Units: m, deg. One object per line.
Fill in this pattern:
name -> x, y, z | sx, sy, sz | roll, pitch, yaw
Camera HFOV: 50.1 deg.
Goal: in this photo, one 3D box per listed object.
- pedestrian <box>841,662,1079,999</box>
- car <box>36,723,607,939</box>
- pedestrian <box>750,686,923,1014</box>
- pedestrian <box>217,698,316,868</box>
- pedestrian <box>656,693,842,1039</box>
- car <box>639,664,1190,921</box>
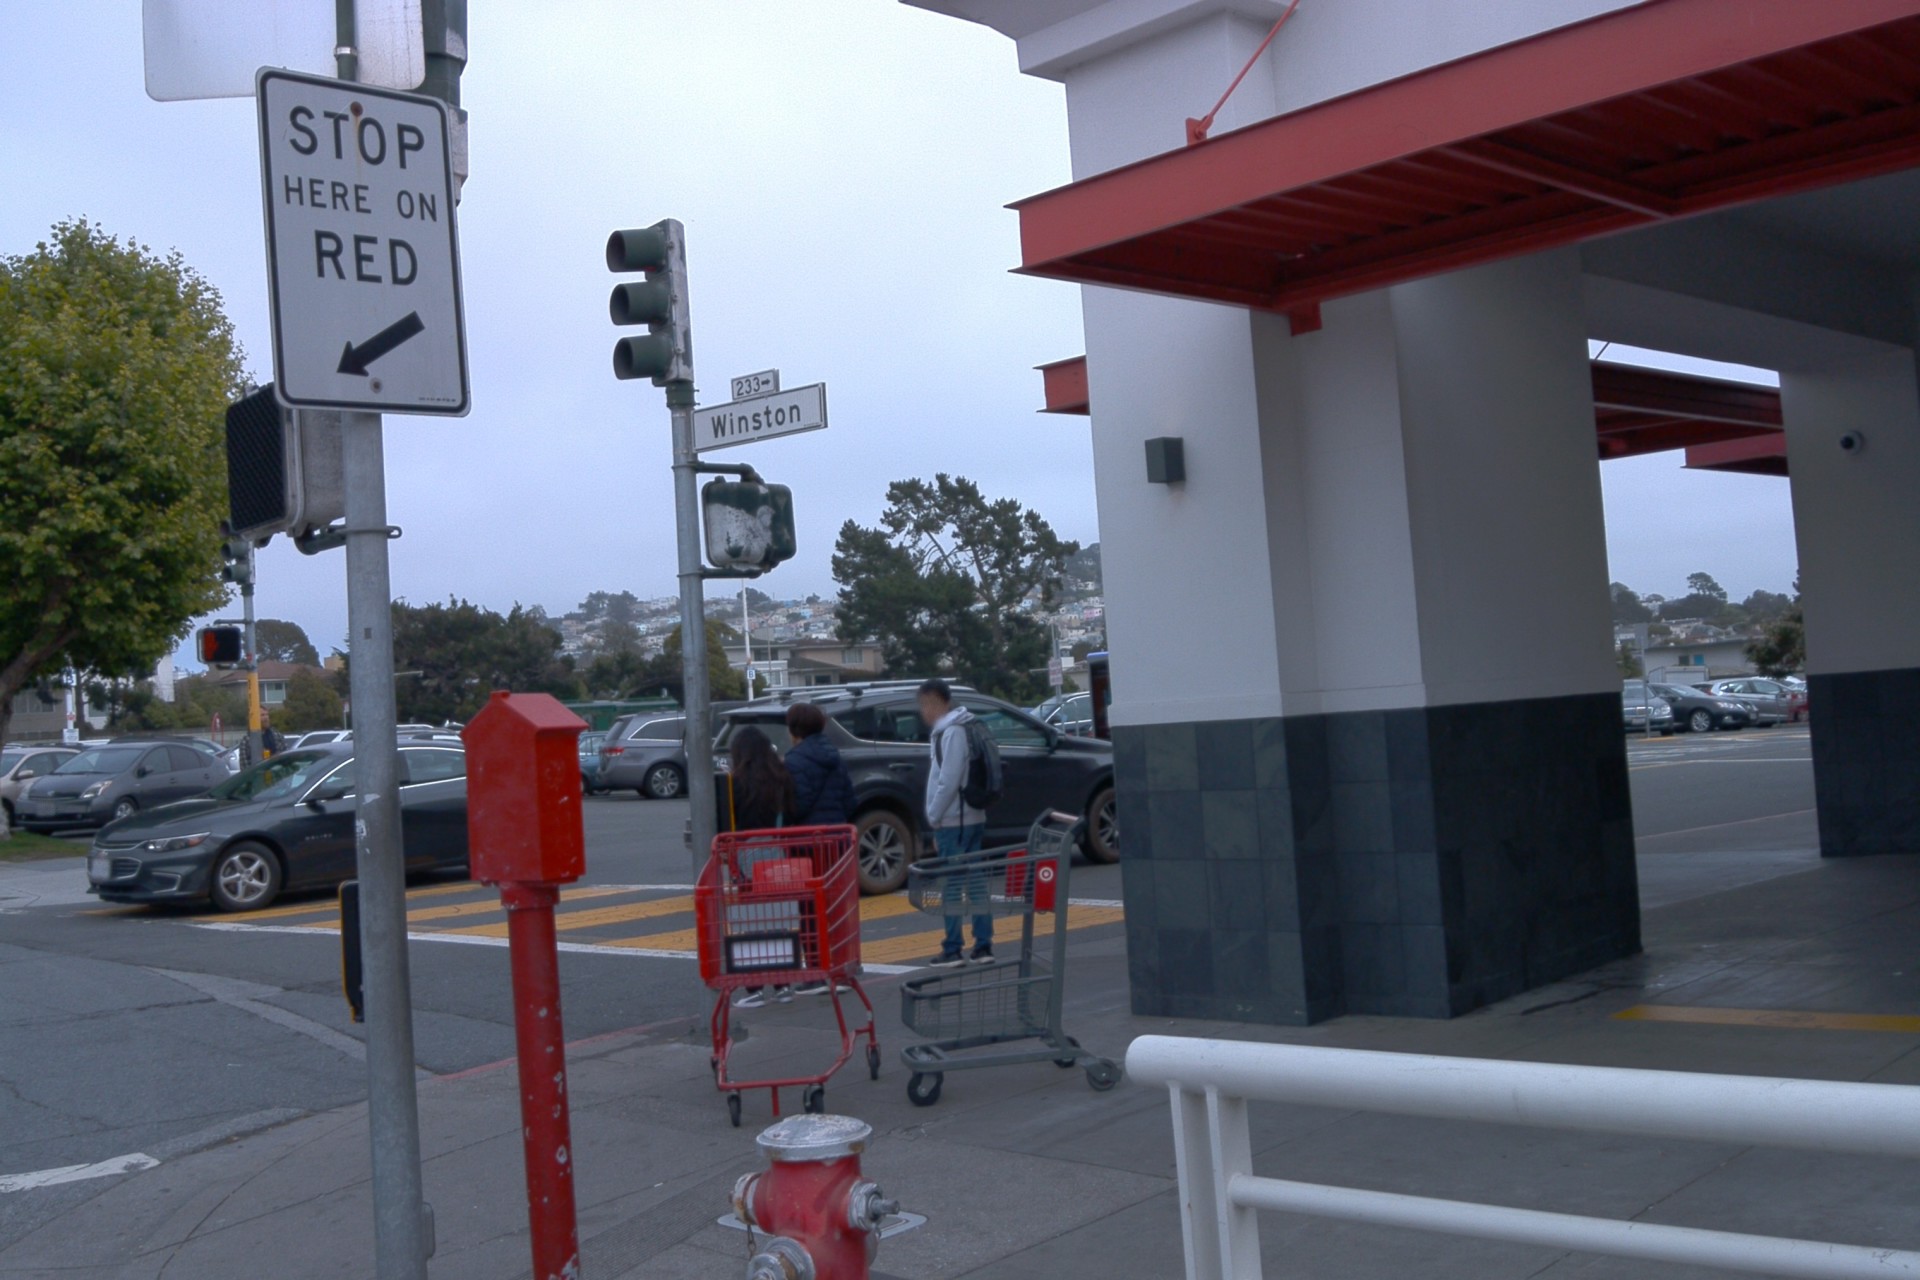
pedestrian -> -0.005, 1.023, 11.640 | 0.816, 1.770, 1.085 | 0, 0, -44
car -> -6.023, 1.719, 19.871 | 2.102, 1.570, 4.857 | 0, 1, 43
pedestrian -> -0.669, 1.087, 11.040 | 0.627, 1.650, 0.761 | 0, 0, -34
pedestrian -> -7.917, 1.602, 23.453 | 0.855, 1.820, 1.277 | 0, 0, -28
pedestrian -> -1.099, 1.123, 10.617 | 0.627, 1.660, 0.867 | 0, 0, -32
car -> -0.312, 1.209, 18.234 | 4.558, 1.889, 2.117 | -1, 1, -40
